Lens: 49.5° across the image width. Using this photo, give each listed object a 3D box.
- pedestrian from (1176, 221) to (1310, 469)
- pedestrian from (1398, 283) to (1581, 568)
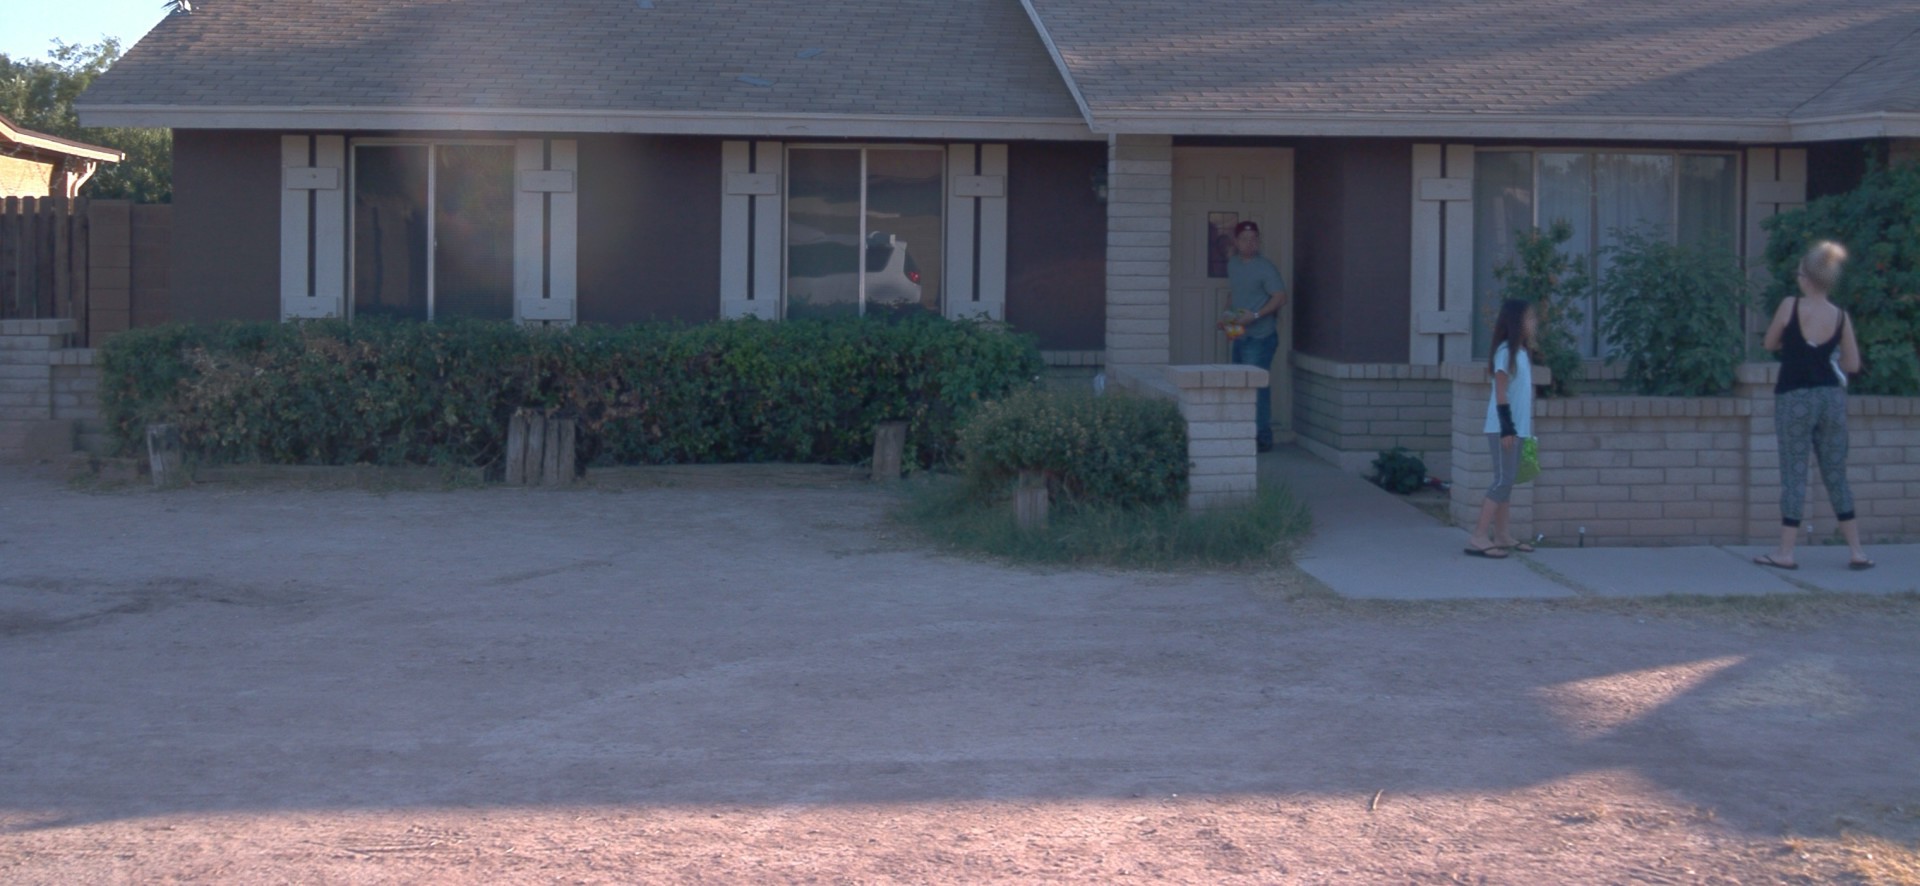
[{"bbox_3d":[2.030,-0.729,14.940,0.668,1.729,0.665,0,1,-35],"label":"pedestrian"},{"bbox_3d":[2.850,-0.128,11.172,0.743,1.429,0.759,1,2,32],"label":"pedestrian"}]
